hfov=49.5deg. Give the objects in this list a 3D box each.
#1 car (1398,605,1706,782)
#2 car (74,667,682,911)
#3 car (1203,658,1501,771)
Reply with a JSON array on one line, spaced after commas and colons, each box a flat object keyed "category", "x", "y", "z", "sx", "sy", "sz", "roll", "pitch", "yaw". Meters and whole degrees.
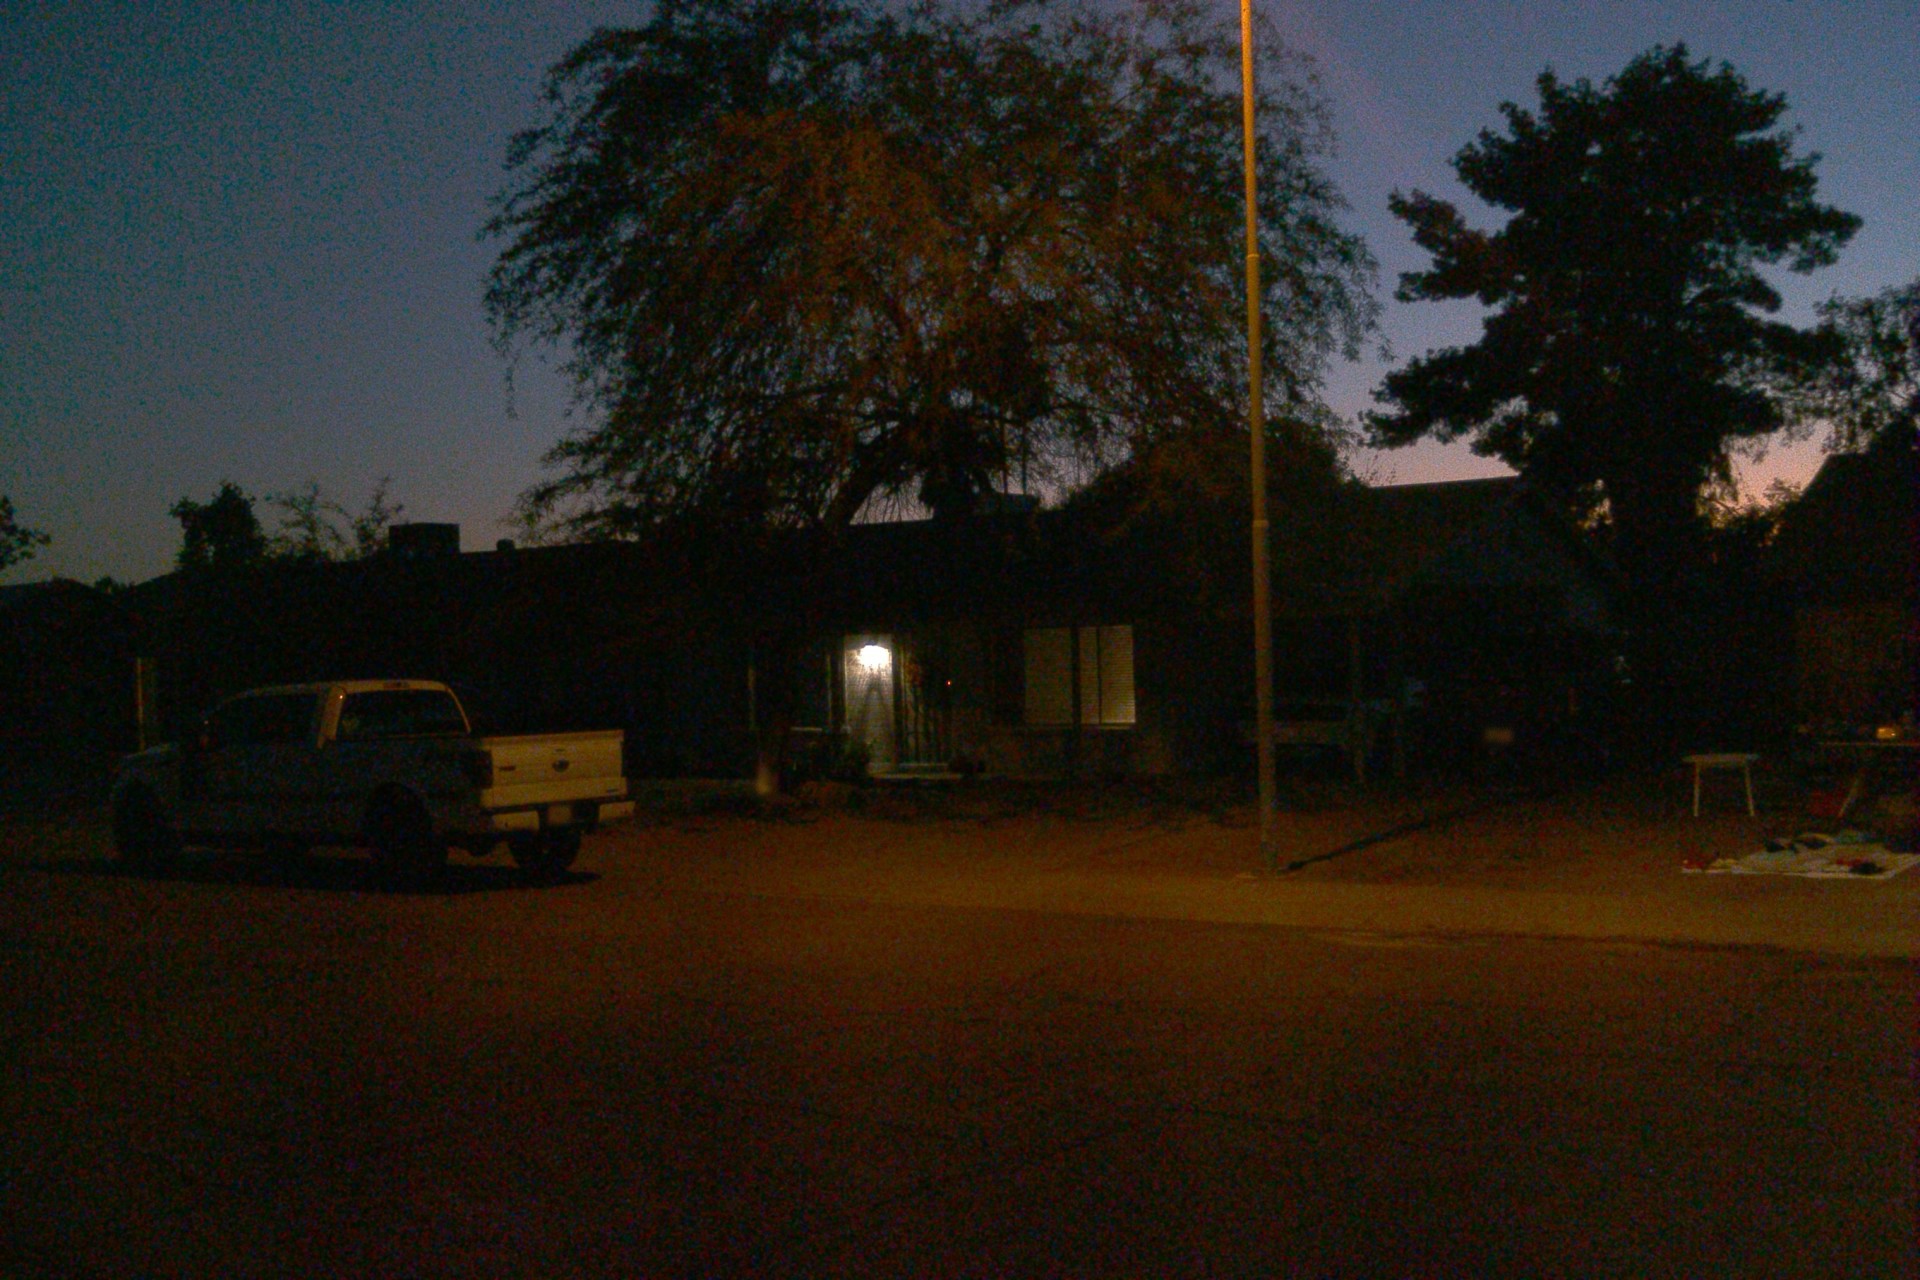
[{"category": "car", "x": 7.878, "y": 0.630, "z": 27.189, "sx": 2.342, "sy": 2.050, "sz": 6.020, "roll": 1, "pitch": 0, "yaw": 31}, {"category": "car", "x": -5.937, "y": 1.327, "z": 20.804, "sx": 6.287, "sy": 2.010, "sz": 2.334, "roll": 1, "pitch": 0, "yaw": 34}, {"category": "car", "x": 5.463, "y": 0.968, "z": 28.638, "sx": 2.210, "sy": 1.390, "sz": 4.299, "roll": 1, "pitch": 0, "yaw": 40}]
